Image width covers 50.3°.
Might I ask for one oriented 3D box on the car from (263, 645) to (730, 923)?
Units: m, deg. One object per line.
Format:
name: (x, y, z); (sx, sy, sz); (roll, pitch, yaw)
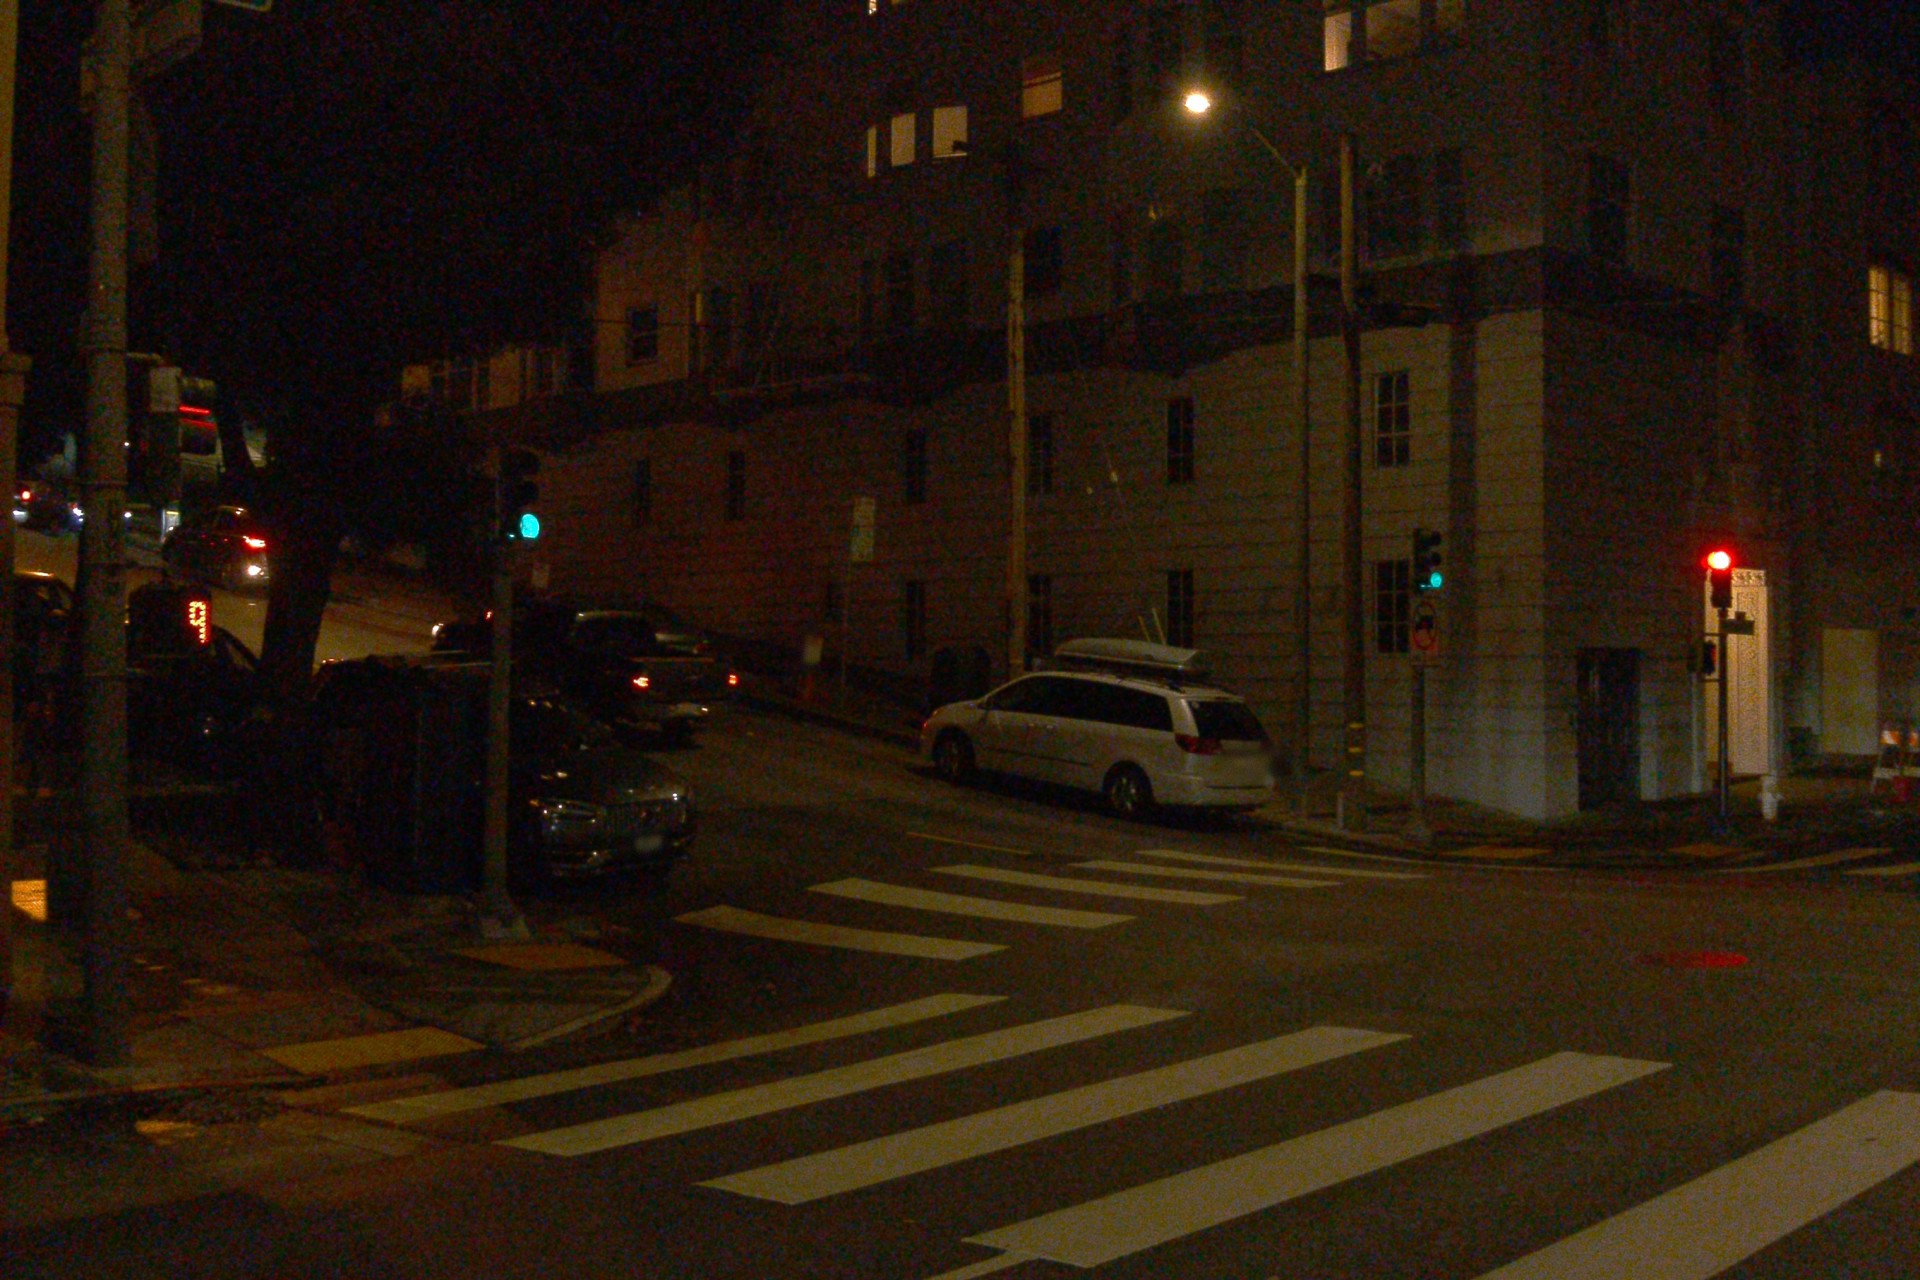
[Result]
car: (-4.592, 1.228, 19.807); (2.195, 2.290, 4.784); (0, 1, -44)

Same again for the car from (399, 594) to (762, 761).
car: (-5.461, 0.449, 28.986); (5.383, 2.142, 2.276); (1, 1, 43)

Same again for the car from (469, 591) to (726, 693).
car: (-6.222, 0.004, 34.847); (4.539, 1.626, 1.925); (1, 1, 42)

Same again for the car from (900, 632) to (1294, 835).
car: (1.729, 1.121, 27.136); (4.904, 2.388, 2.213); (1, 1, 44)
